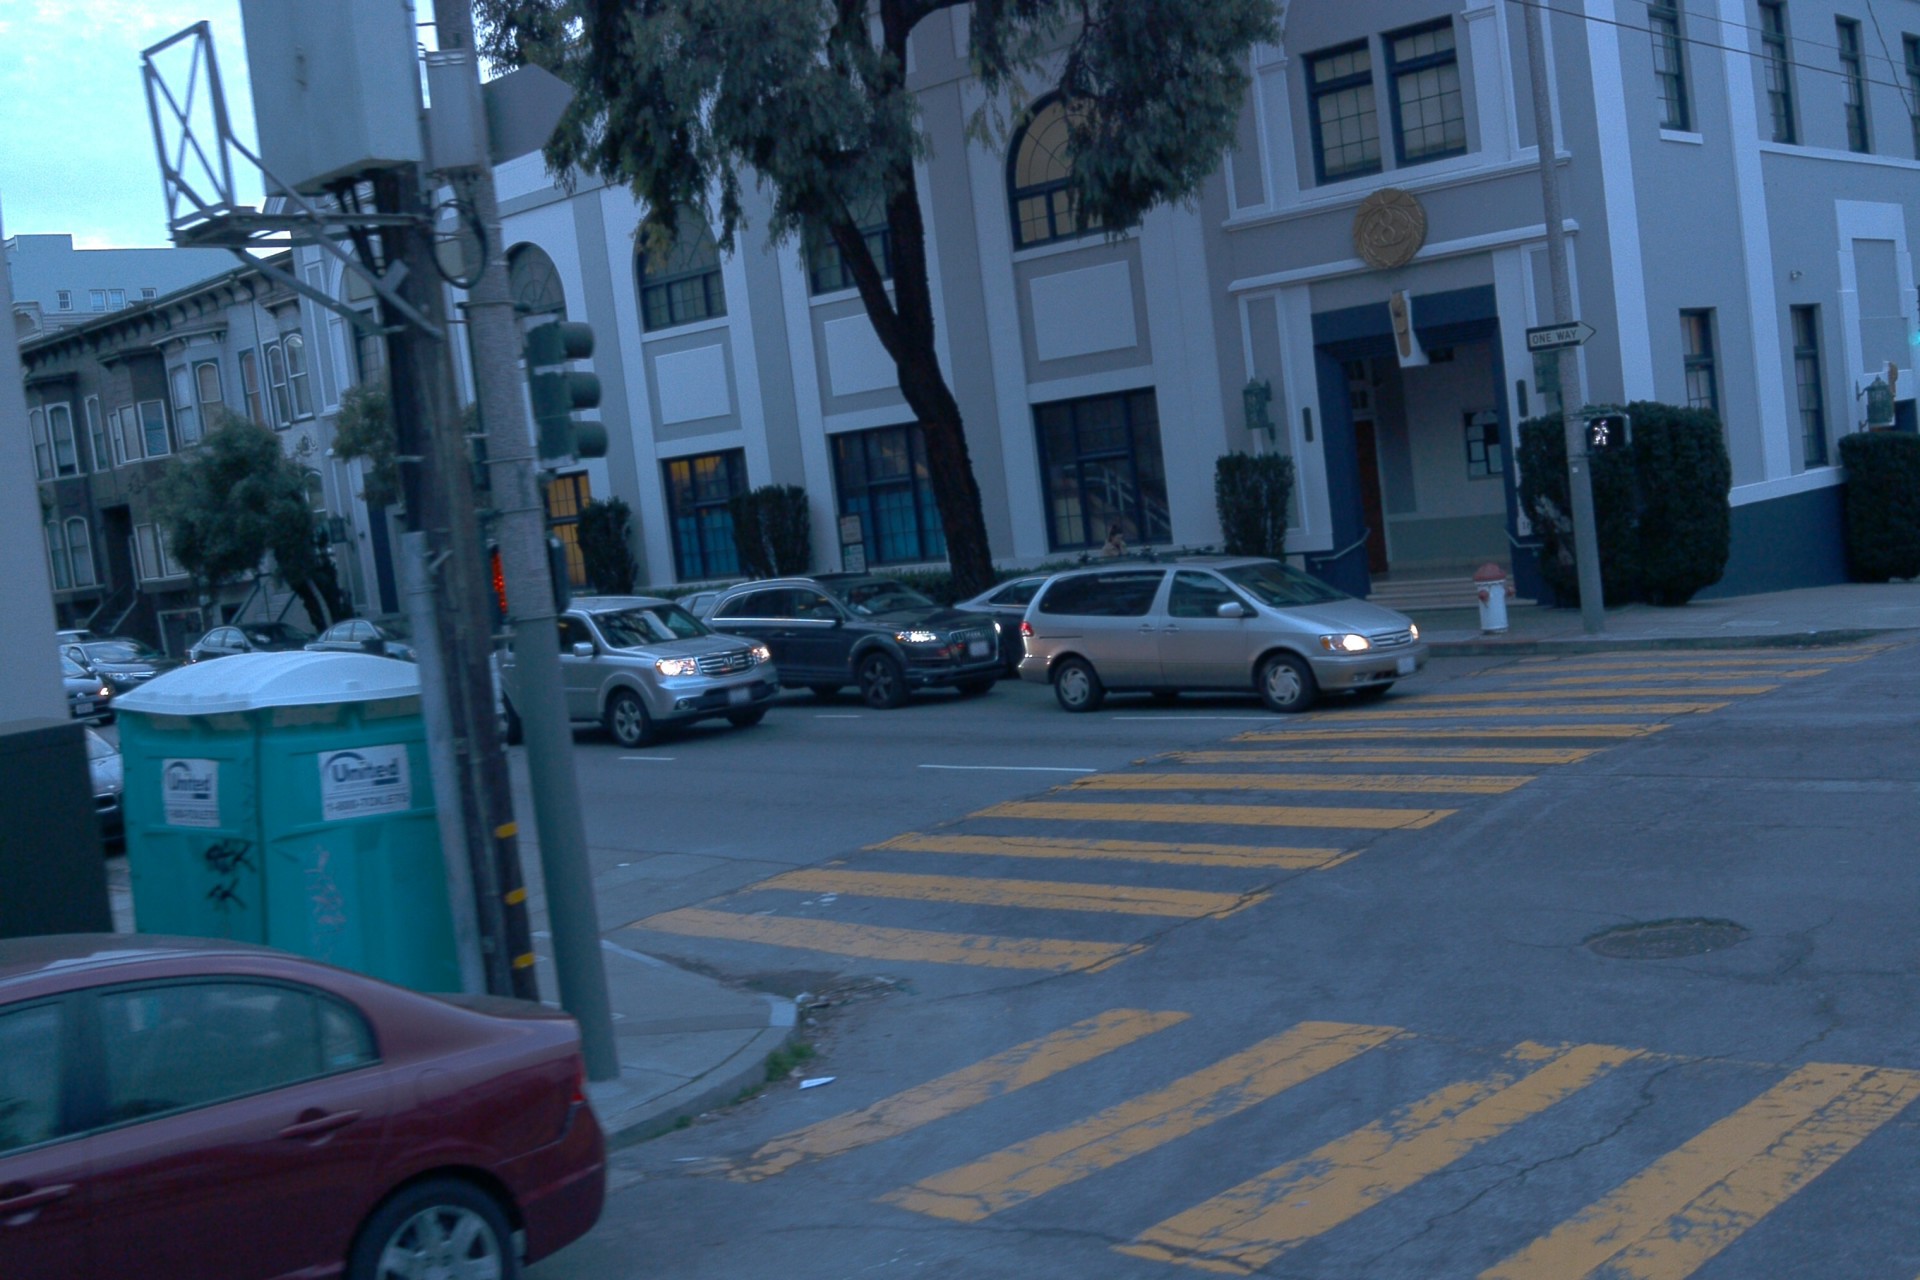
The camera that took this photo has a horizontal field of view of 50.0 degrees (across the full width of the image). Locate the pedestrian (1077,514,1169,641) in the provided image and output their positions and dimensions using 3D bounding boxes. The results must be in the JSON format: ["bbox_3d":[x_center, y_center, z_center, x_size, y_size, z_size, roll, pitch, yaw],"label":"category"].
[{"bbox_3d":[2.501,-0.946,31.534,1.087,1.903,0.865,1,1,43],"label":"pedestrian"}]

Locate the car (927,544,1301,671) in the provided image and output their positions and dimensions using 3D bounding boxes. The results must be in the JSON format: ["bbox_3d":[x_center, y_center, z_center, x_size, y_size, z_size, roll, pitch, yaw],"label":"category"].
[{"bbox_3d":[2.052,-0.451,28.491,4.891,1.610,2.152,1,1,44],"label":"car"}]

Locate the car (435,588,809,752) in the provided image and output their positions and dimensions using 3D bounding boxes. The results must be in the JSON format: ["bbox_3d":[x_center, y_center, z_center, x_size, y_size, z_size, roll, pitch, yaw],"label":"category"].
[{"bbox_3d":[-4.385,0.309,26.245,4.735,1.900,2.269,1,1,43],"label":"car"}]

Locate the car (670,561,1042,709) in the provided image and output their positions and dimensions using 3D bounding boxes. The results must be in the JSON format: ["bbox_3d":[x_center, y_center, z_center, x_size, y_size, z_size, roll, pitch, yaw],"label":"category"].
[{"bbox_3d":[-1.497,-0.105,27.806,4.978,1.820,2.228,1,1,44],"label":"car"}]

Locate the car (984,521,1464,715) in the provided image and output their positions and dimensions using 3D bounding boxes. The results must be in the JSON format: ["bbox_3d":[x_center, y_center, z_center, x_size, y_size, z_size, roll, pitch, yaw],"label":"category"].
[{"bbox_3d":[2.864,-0.263,23.150,4.978,1.950,2.238,1,1,44],"label":"car"}]
